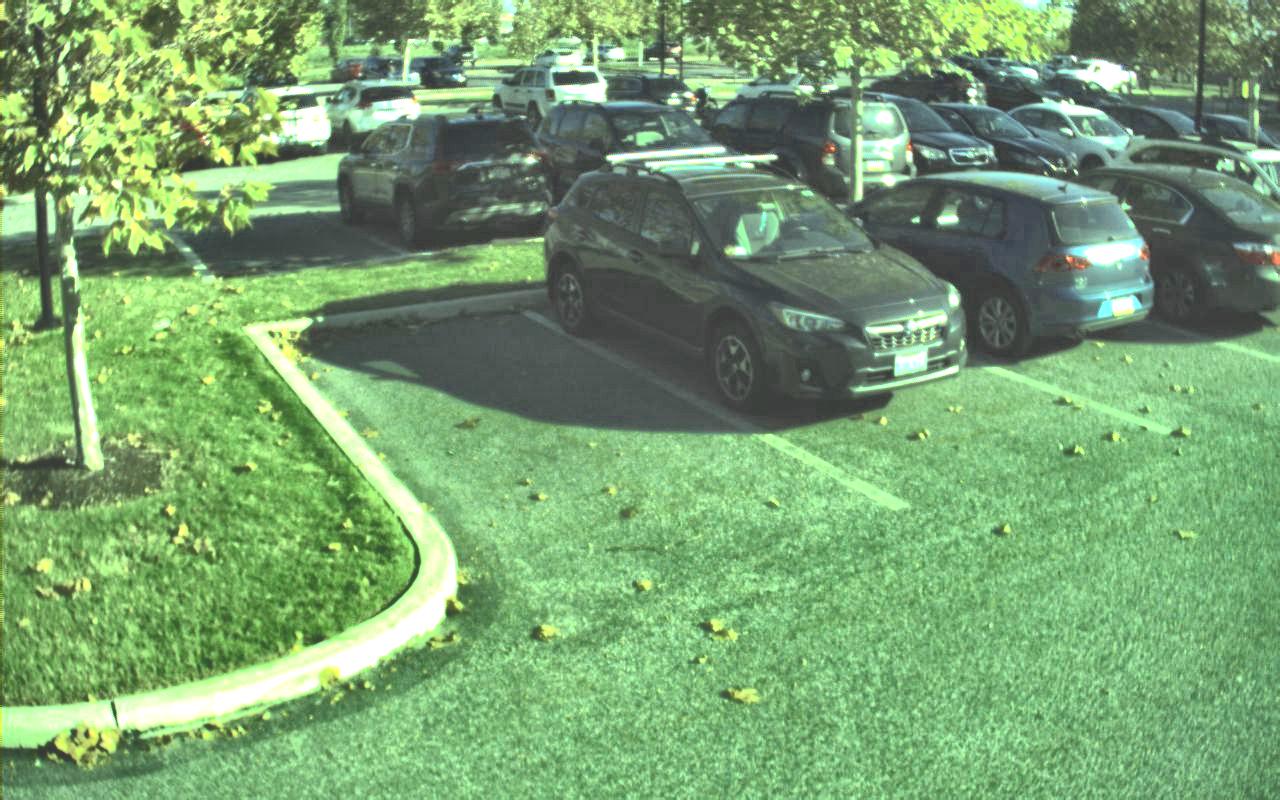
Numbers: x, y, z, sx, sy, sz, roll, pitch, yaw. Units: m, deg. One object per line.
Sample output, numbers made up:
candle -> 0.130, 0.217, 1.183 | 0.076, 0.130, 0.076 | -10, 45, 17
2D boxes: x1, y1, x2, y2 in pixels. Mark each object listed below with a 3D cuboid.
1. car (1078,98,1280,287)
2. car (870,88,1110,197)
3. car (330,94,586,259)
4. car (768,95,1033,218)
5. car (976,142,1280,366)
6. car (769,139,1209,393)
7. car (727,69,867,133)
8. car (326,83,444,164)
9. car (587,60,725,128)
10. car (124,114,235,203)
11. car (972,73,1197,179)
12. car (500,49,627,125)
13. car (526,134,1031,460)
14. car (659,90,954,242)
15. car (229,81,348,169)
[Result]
car -> 7.877, -2.792, 14.601 | 2.017, 1.737, 4.573 | -9, 18, -24
car -> 6.412, -4.840, 22.363 | 1.946, 1.560, 4.438 | -11, 19, -30
car -> -2.765, -3.321, 17.508 | 2.038, 1.769, 4.760 | -10, 19, -28
car -> 4.371, -4.241, 20.959 | 1.960, 1.603, 4.458 | -12, 20, -33
car -> 5.731, -1.732, 12.557 | 1.934, 1.539, 4.518 | -8, 18, -24
car -> 3.212, -1.473, 11.676 | 1.884, 1.593, 4.192 | -11, 19, -29
car -> 4.677, -9.094, 37.393 | 1.993, 1.654, 4.617 | -9, 19, -26
car -> -6.632, -7.128, 31.255 | 1.997, 1.715, 4.546 | -8, 18, -24
car -> 0.359, -8.572, 34.567 | 1.977, 1.646, 4.488 | -9, 18, -26
car -> -11.322, -5.899, 28.489 | 1.986, 1.680, 4.532 | -11, 19, -30
car -> 8.878, -5.557, 23.736 | 2.005, 1.678, 4.643 | -9, 18, -25
car -> -2.179, -8.548, 33.546 | 2.047, 1.830, 4.720 | -7, 18, -21
car -> 0.900, -1.132, 10.390 | 1.963, 1.706, 4.509 | -10, 19, -28
car -> 2.426, -3.716, 19.028 | 2.025, 1.780, 4.688 | -11, 19, -30
car -> -8.869, -6.879, 29.833 | 2.054, 1.822, 4.674 | -10, 19, -27
